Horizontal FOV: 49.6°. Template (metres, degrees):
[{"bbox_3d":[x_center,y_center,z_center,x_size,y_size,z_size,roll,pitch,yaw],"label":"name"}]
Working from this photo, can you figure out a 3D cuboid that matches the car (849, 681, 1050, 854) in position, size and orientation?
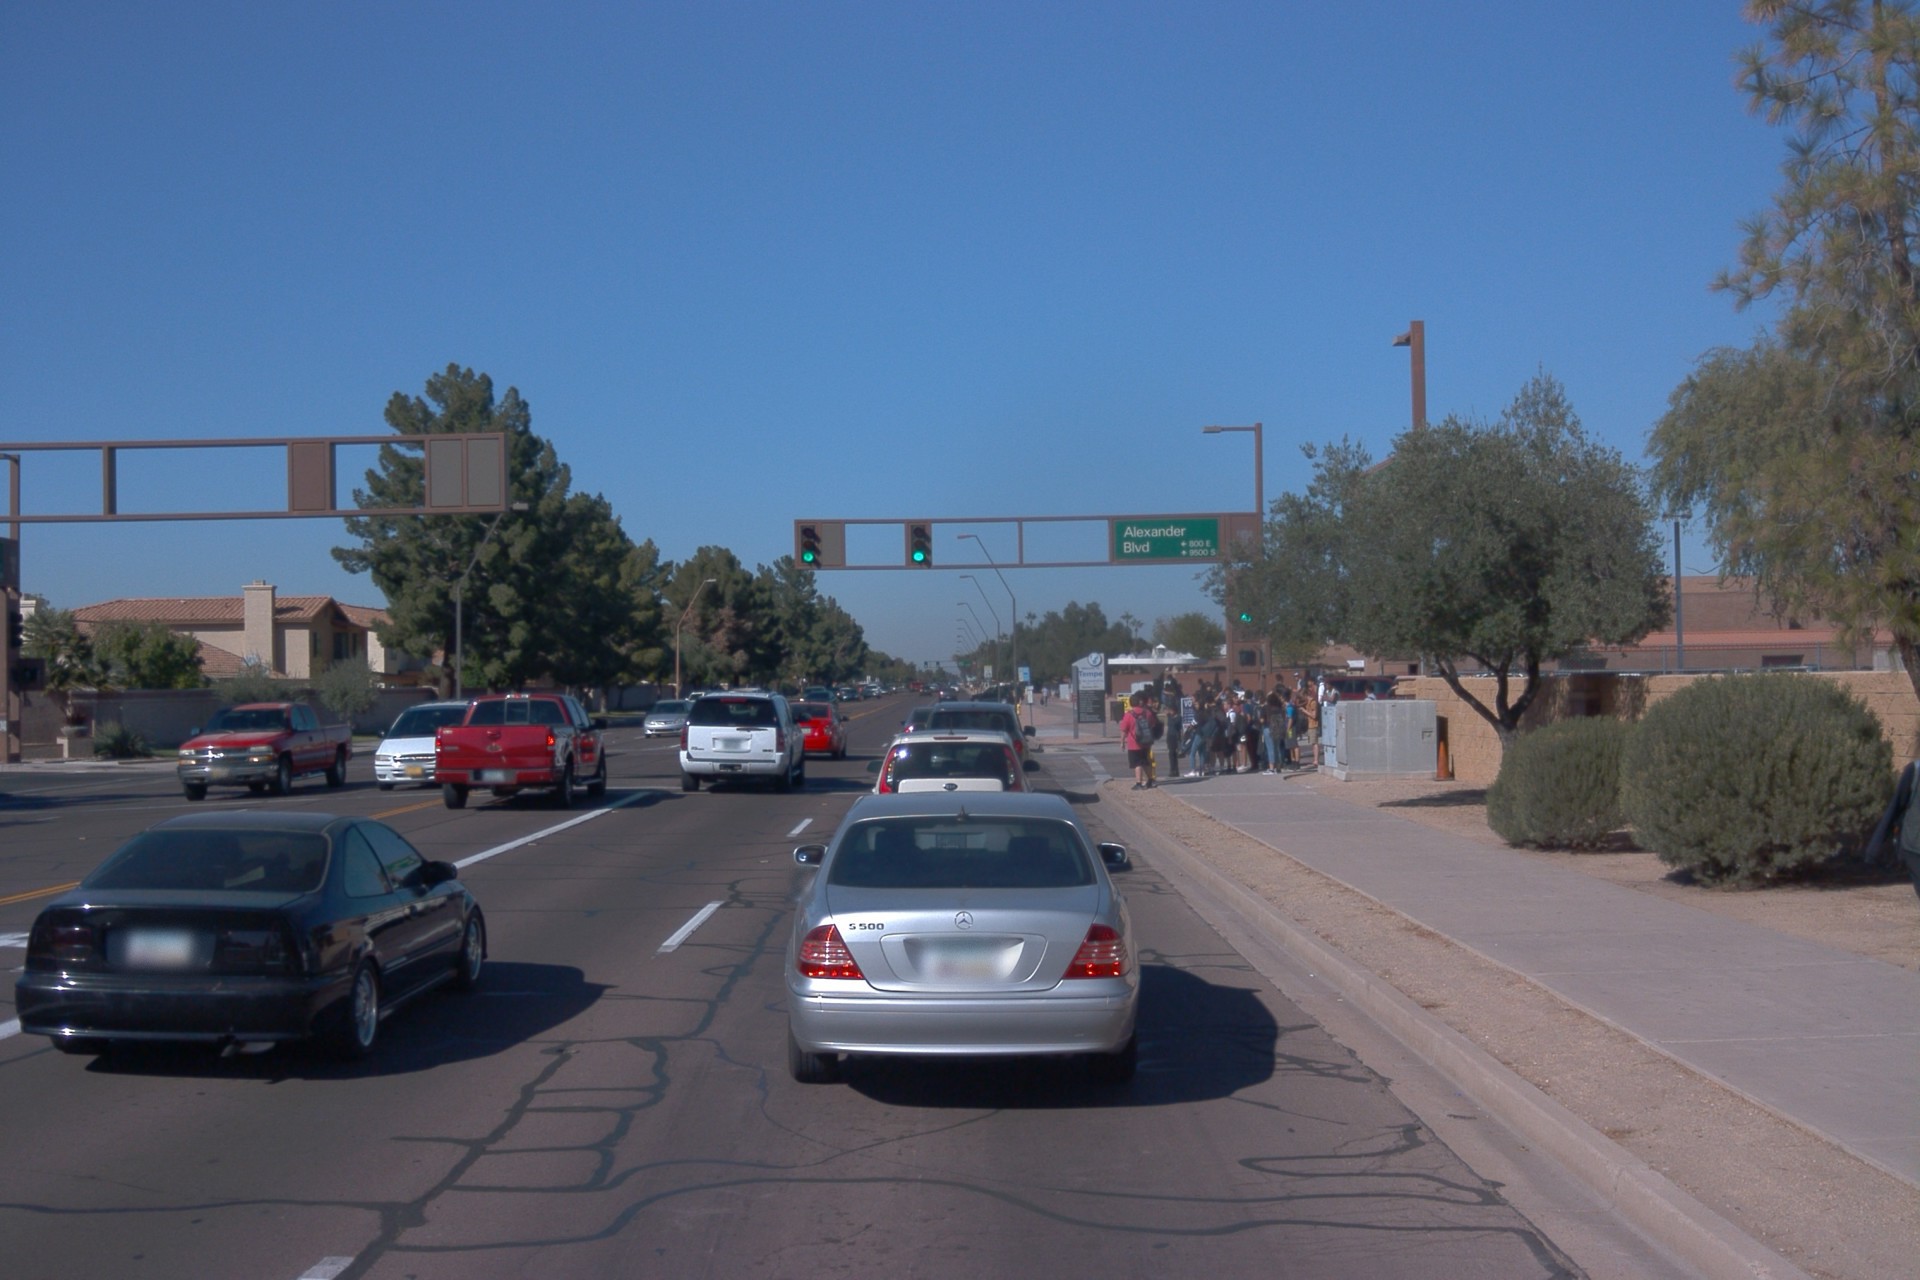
[{"bbox_3d":[-0.062,1.346,23.535,2.056,1.760,4.487,0,-1,1],"label":"car"}]

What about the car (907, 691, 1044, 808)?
[{"bbox_3d":[0.338,1.918,37.659,2.322,1.950,4.955,0,-1,2],"label":"car"}]

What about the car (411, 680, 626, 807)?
[{"bbox_3d":[-7.333,1.667,35.260,2.581,1.980,5.796,0,-1,-2],"label":"car"}]

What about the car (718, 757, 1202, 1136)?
[{"bbox_3d":[0.004,1.564,12.010,2.265,1.600,4.514,0,-1,0],"label":"car"}]
